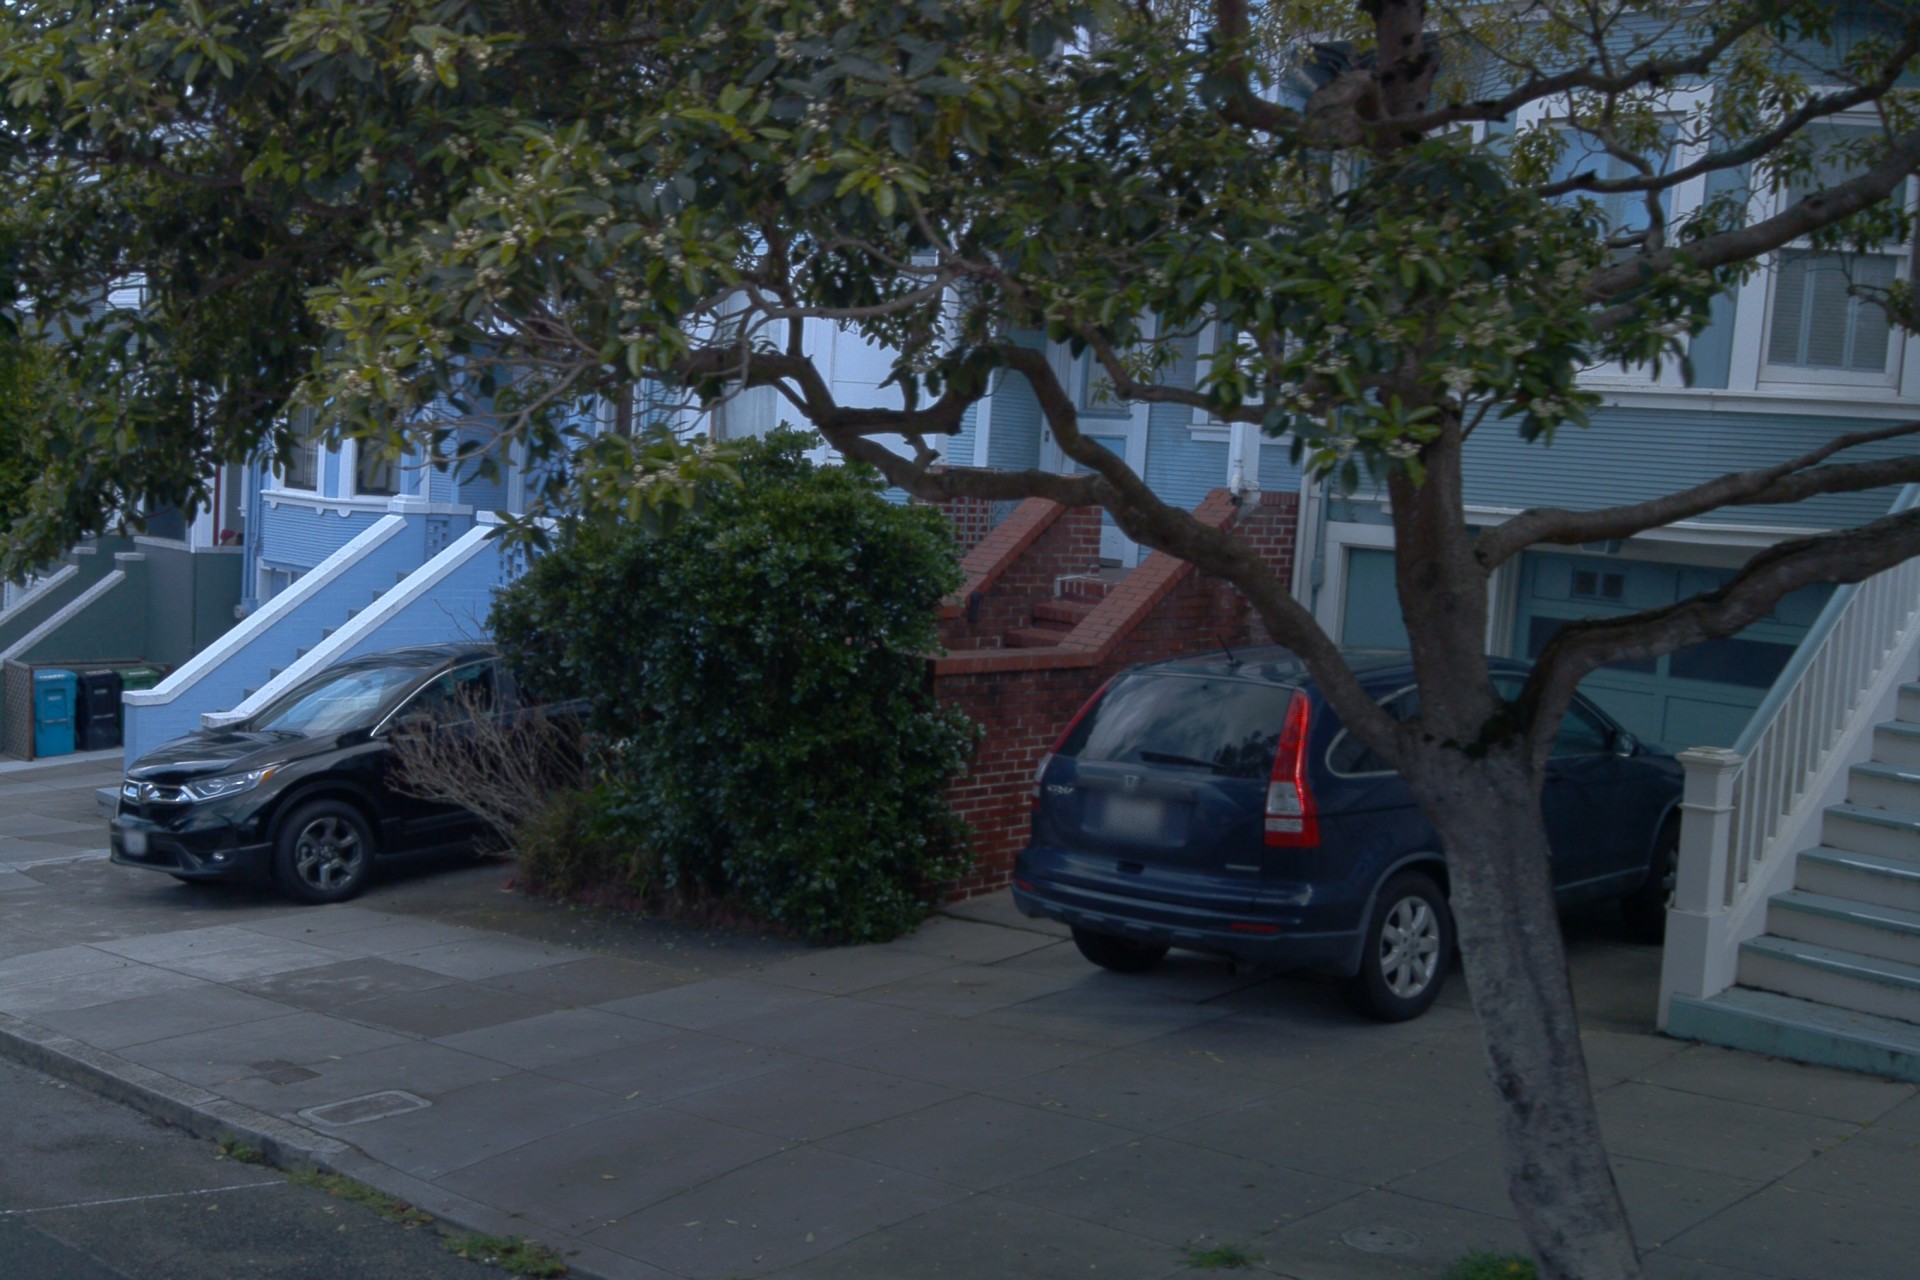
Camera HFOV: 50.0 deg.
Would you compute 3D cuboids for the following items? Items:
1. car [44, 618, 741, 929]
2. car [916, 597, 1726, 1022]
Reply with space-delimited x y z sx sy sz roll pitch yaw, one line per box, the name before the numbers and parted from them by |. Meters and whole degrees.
car | -4.138 0.856 15.586 2.220 1.984 4.602 0 0 43
car | 2.109 0.729 11.141 4.414 1.820 2.172 0 0 -45
